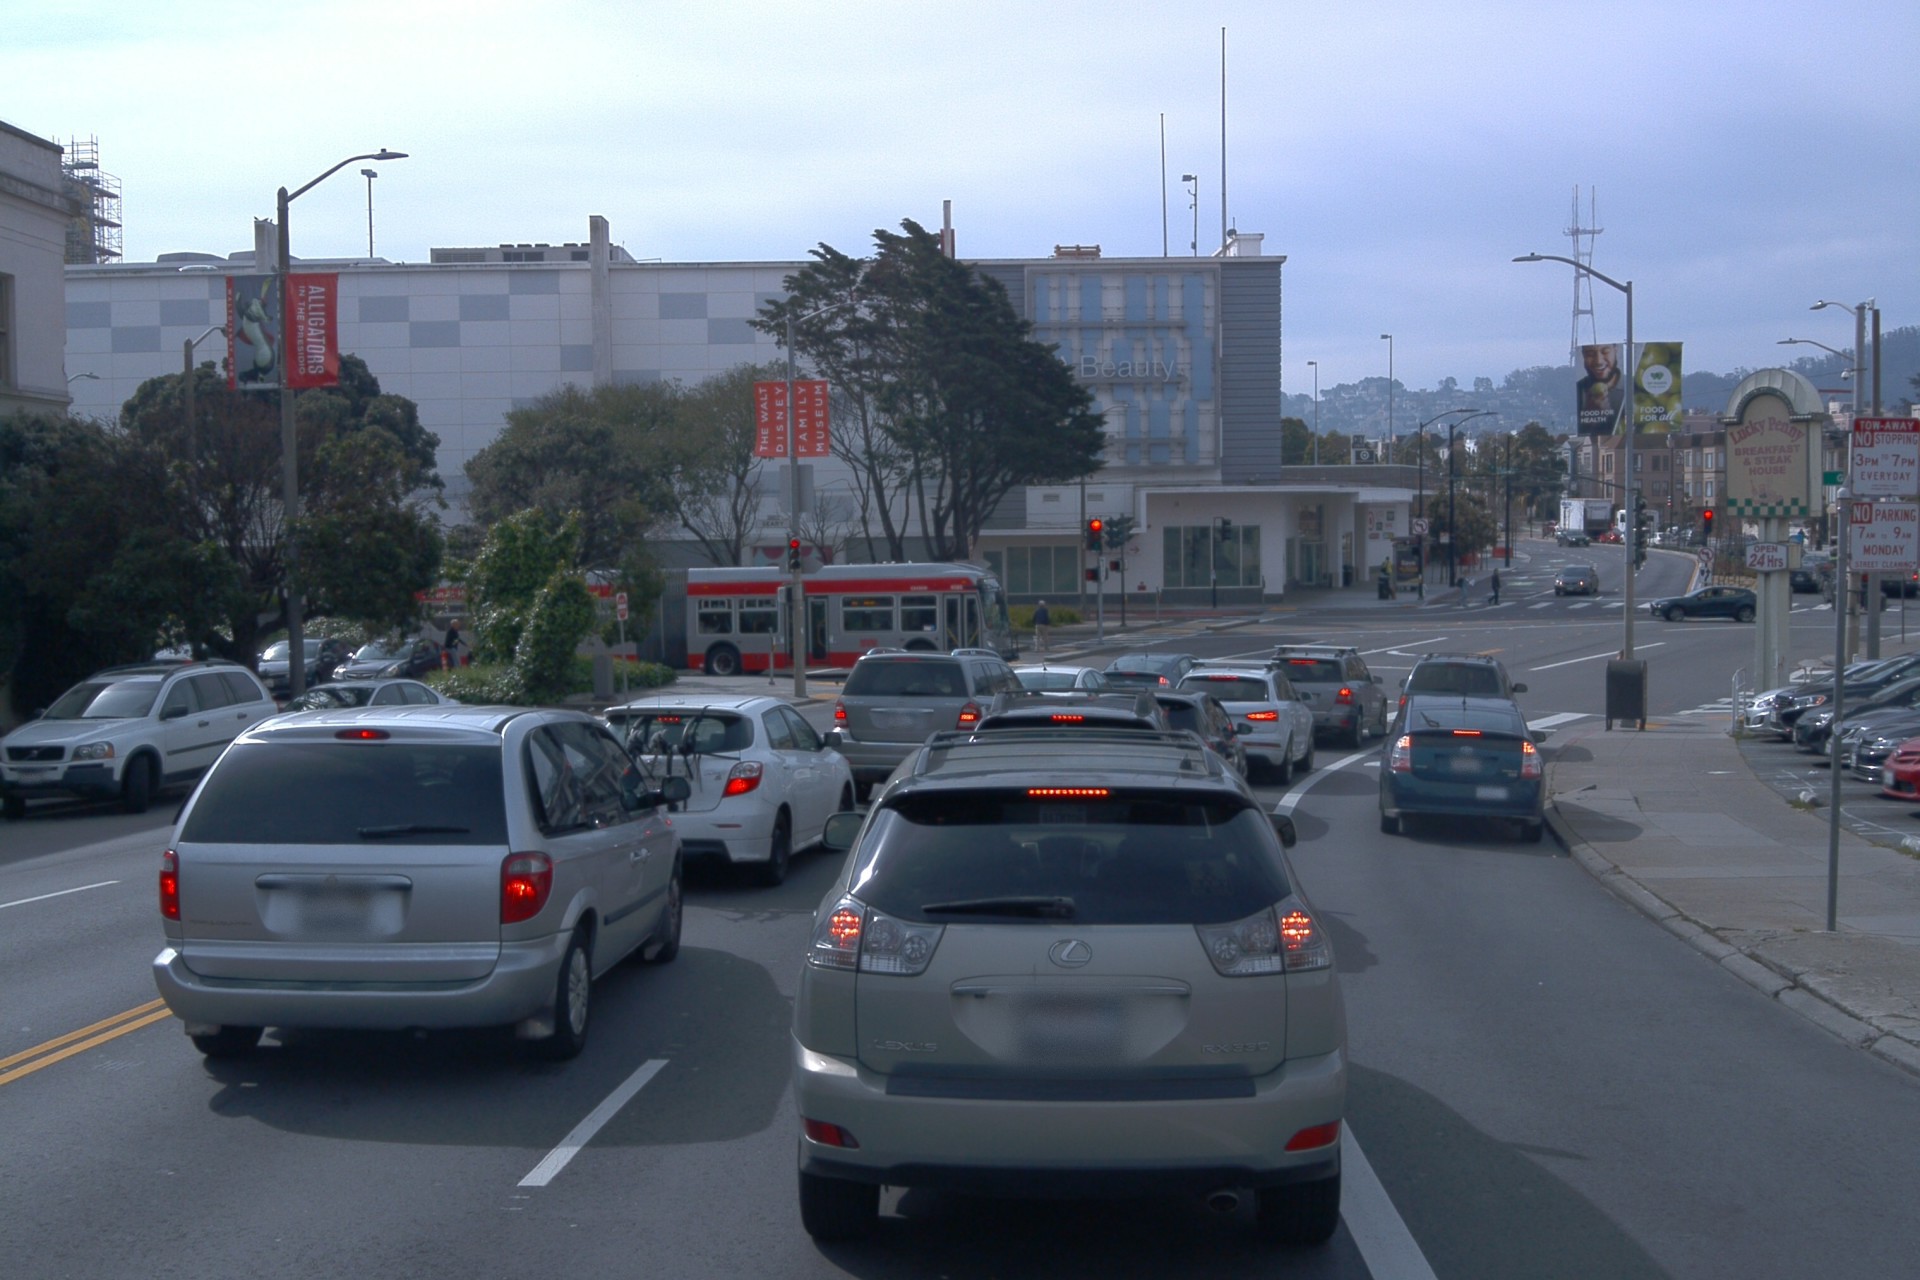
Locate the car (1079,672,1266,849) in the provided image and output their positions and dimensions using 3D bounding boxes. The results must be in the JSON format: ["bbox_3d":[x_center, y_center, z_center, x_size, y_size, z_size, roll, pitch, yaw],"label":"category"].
[{"bbox_3d":[2.538,1.309,23.697,1.526,1.780,3.939,1,0,15],"label":"car"}]

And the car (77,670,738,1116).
[{"bbox_3d":[-2.684,1.133,11.269,2.131,1.830,4.635,1,0,4],"label":"car"}]

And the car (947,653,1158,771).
[{"bbox_3d":[1.580,1.077,32.723,2.220,1.670,4.643,1,0,18],"label":"car"}]

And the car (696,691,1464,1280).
[{"bbox_3d":[0.408,1.168,8.131,2.197,1.780,4.467,1,0,2],"label":"car"}]

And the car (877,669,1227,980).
[{"bbox_3d":[0.863,1.208,15.357,2.119,1.870,4.391,1,0,9],"label":"car"}]

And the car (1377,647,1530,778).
[{"bbox_3d":[8.546,1.160,35.085,2.203,2.020,4.801,1,0,18],"label":"car"}]

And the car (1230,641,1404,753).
[{"bbox_3d":[6.641,0.970,37.540,2.226,1.850,5.307,1,0,20],"label":"car"}]

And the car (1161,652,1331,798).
[{"bbox_3d":[4.155,1.132,29.226,1.795,1.880,4.044,1,0,17],"label":"car"}]

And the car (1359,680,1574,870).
[{"bbox_3d":[5.627,1.416,23.175,2.113,1.790,4.645,1,0,12],"label":"car"}]

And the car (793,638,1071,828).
[{"bbox_3d":[-0.210,1.040,25.536,2.236,2.100,4.827,1,0,15],"label":"car"}]

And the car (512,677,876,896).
[{"bbox_3d":[-2.125,1.144,17.680,1.982,1.530,4.306,1,0,9],"label":"car"}]

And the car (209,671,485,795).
[{"bbox_3d":[-9.230,1.343,31.231,1.977,1.640,4.663,1,0,13],"label":"car"}]
